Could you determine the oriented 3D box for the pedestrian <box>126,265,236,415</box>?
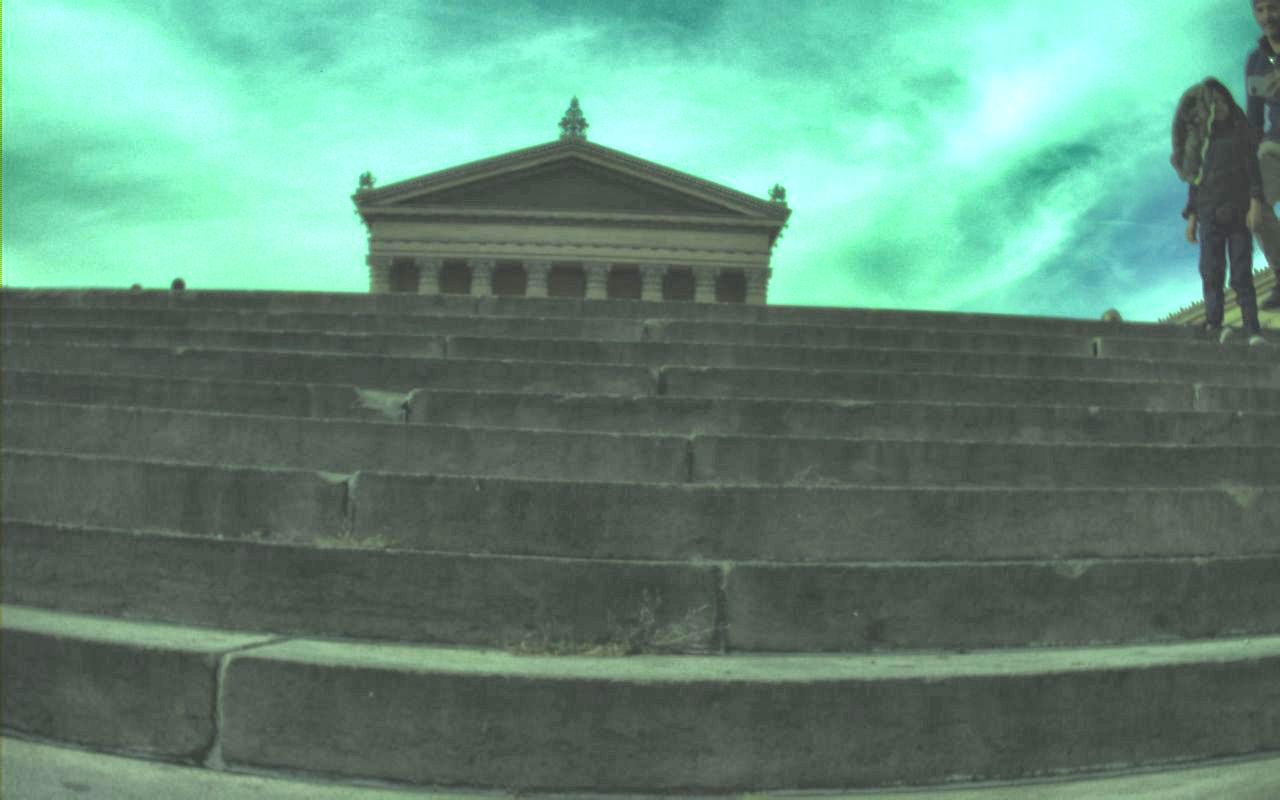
[{"bbox_3d":[-5.725,-0.712,14.793,1.178,1.801,0.934,0,0,-3],"label":"pedestrian"}]

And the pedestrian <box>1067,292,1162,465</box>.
[{"bbox_3d":[4.872,-0.199,12.246,0.779,1.716,0.803,0,0,1],"label":"pedestrian"}]

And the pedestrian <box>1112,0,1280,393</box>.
[{"bbox_3d":[2.596,-0.913,4.735,0.835,1.773,0.855,0,0,-29],"label":"pedestrian"}]
